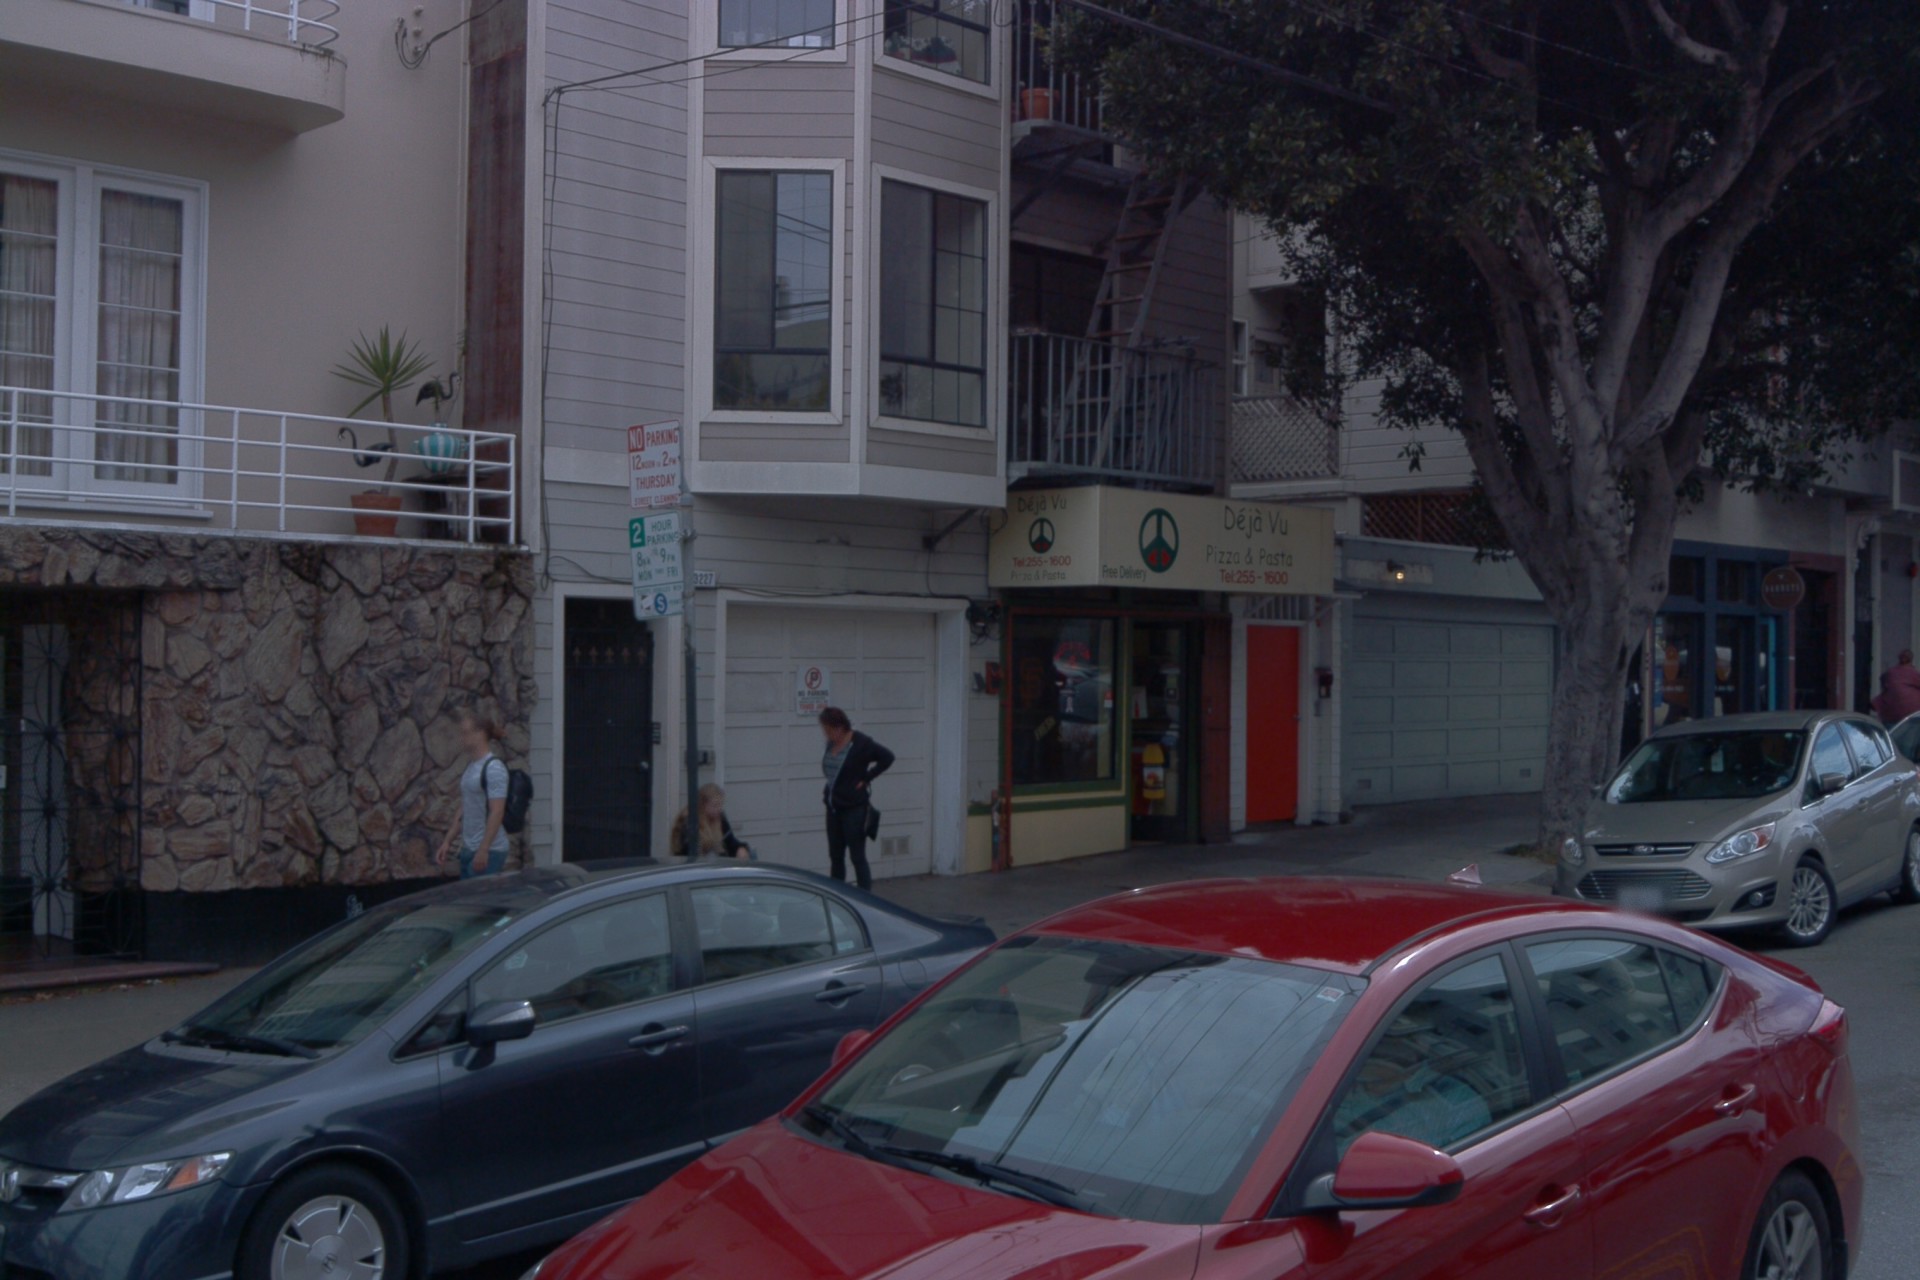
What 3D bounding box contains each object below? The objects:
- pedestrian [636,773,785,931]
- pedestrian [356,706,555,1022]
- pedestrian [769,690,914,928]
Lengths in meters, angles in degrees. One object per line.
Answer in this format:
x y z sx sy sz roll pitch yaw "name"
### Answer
-1.804 1.512 14.897 0.723 1.010 0.815 -1 1 -44 "pedestrian"
-3.034 1.302 12.401 0.940 1.750 0.794 -1 1 -33 "pedestrian"
-0.866 1.196 14.978 0.606 1.620 0.927 -1 1 -41 "pedestrian"
